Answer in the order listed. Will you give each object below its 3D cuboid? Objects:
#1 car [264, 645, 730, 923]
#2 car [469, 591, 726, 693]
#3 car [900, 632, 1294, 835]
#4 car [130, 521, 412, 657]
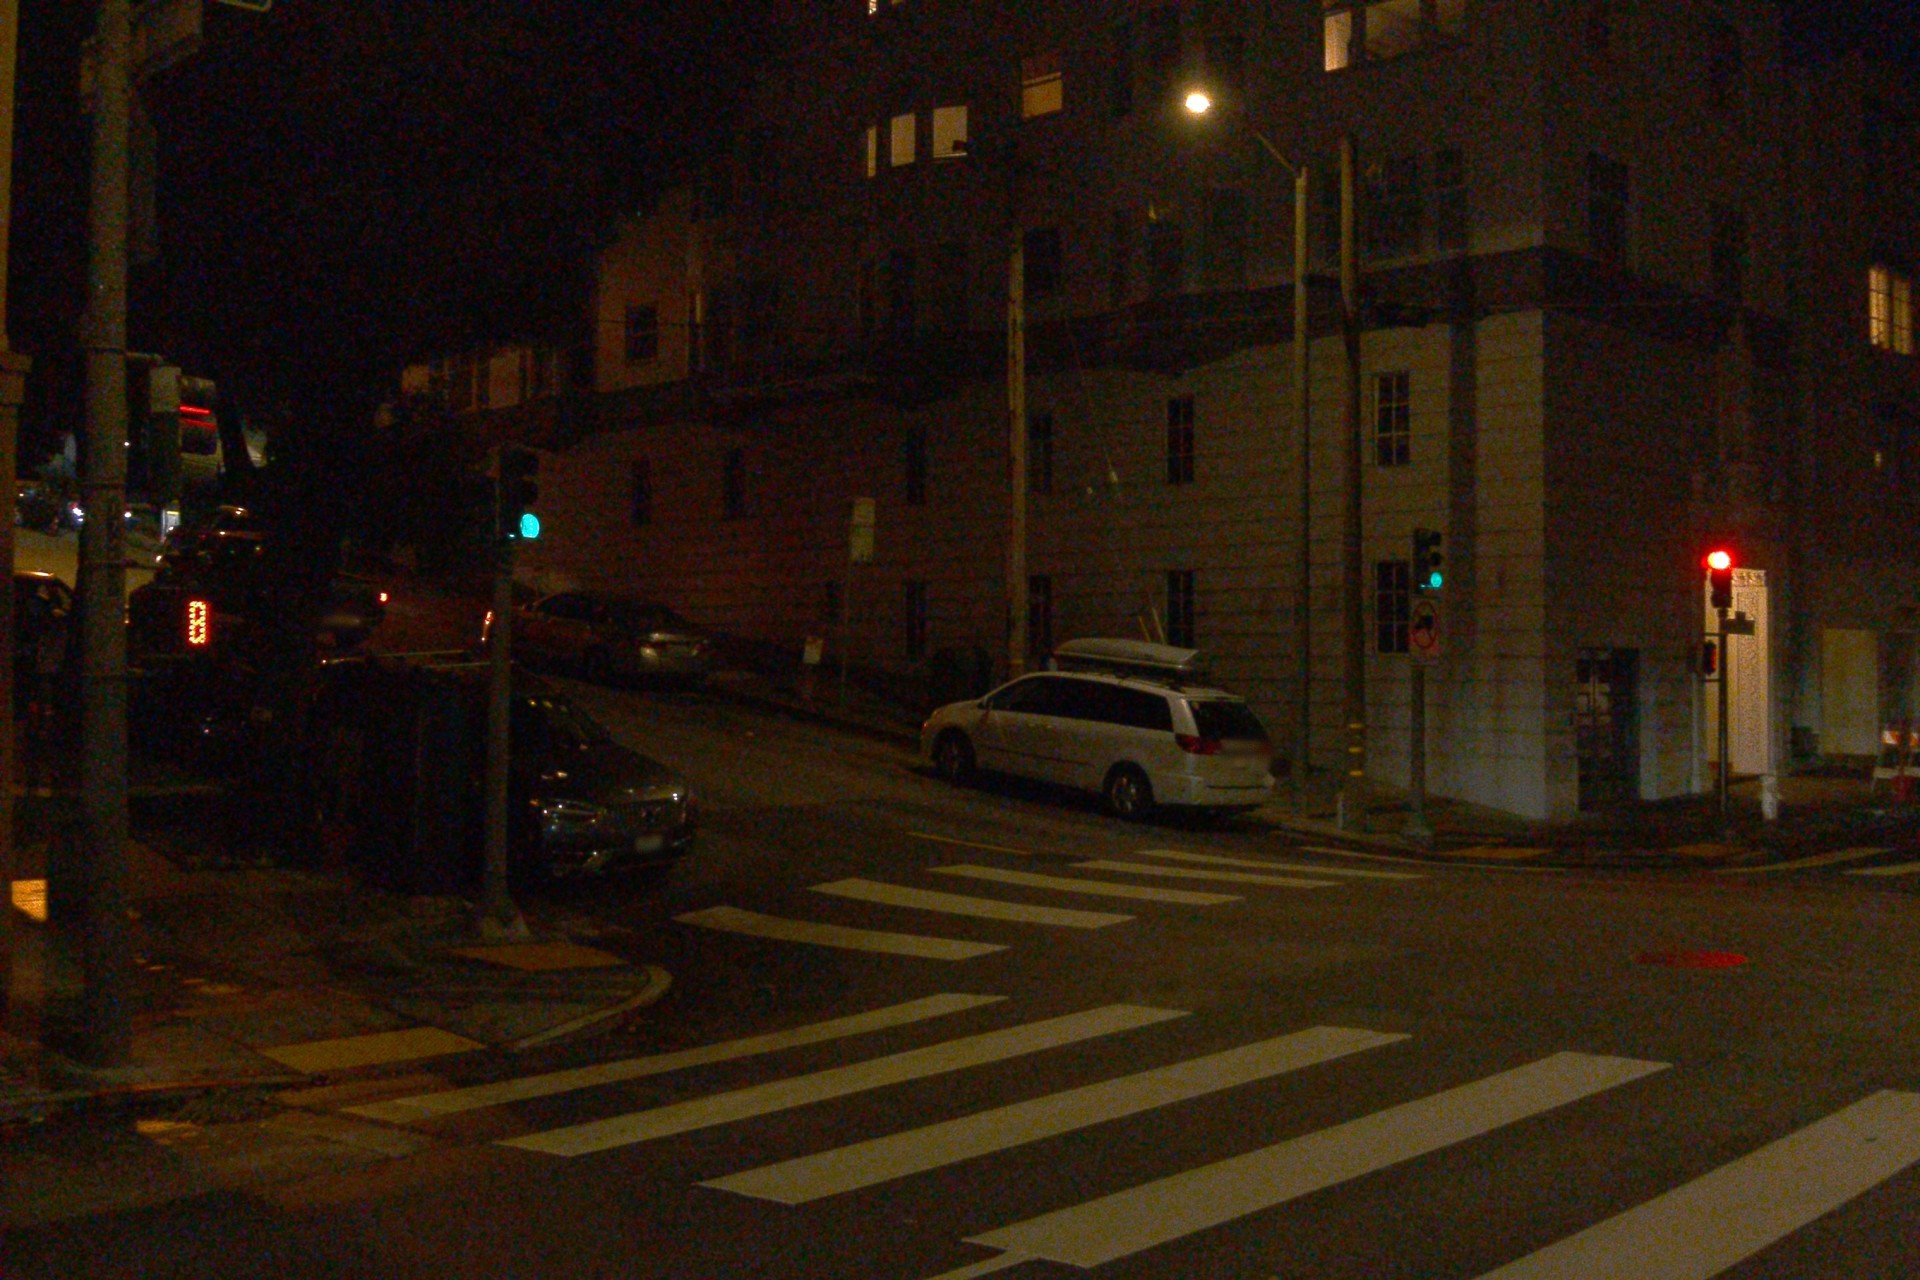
[{"bbox_3d":[-4.590,1.227,19.807,2.195,2.290,4.784,0,1,-44],"label":"car"},{"bbox_3d":[-6.218,0.003,34.848,4.539,1.626,1.925,1,1,42],"label":"car"},{"bbox_3d":[1.732,1.119,27.136,4.904,2.388,2.213,1,1,44],"label":"car"},{"bbox_3d":[-11.841,-0.834,34.966,5.383,2.142,2.276,1,1,43],"label":"car"}]
